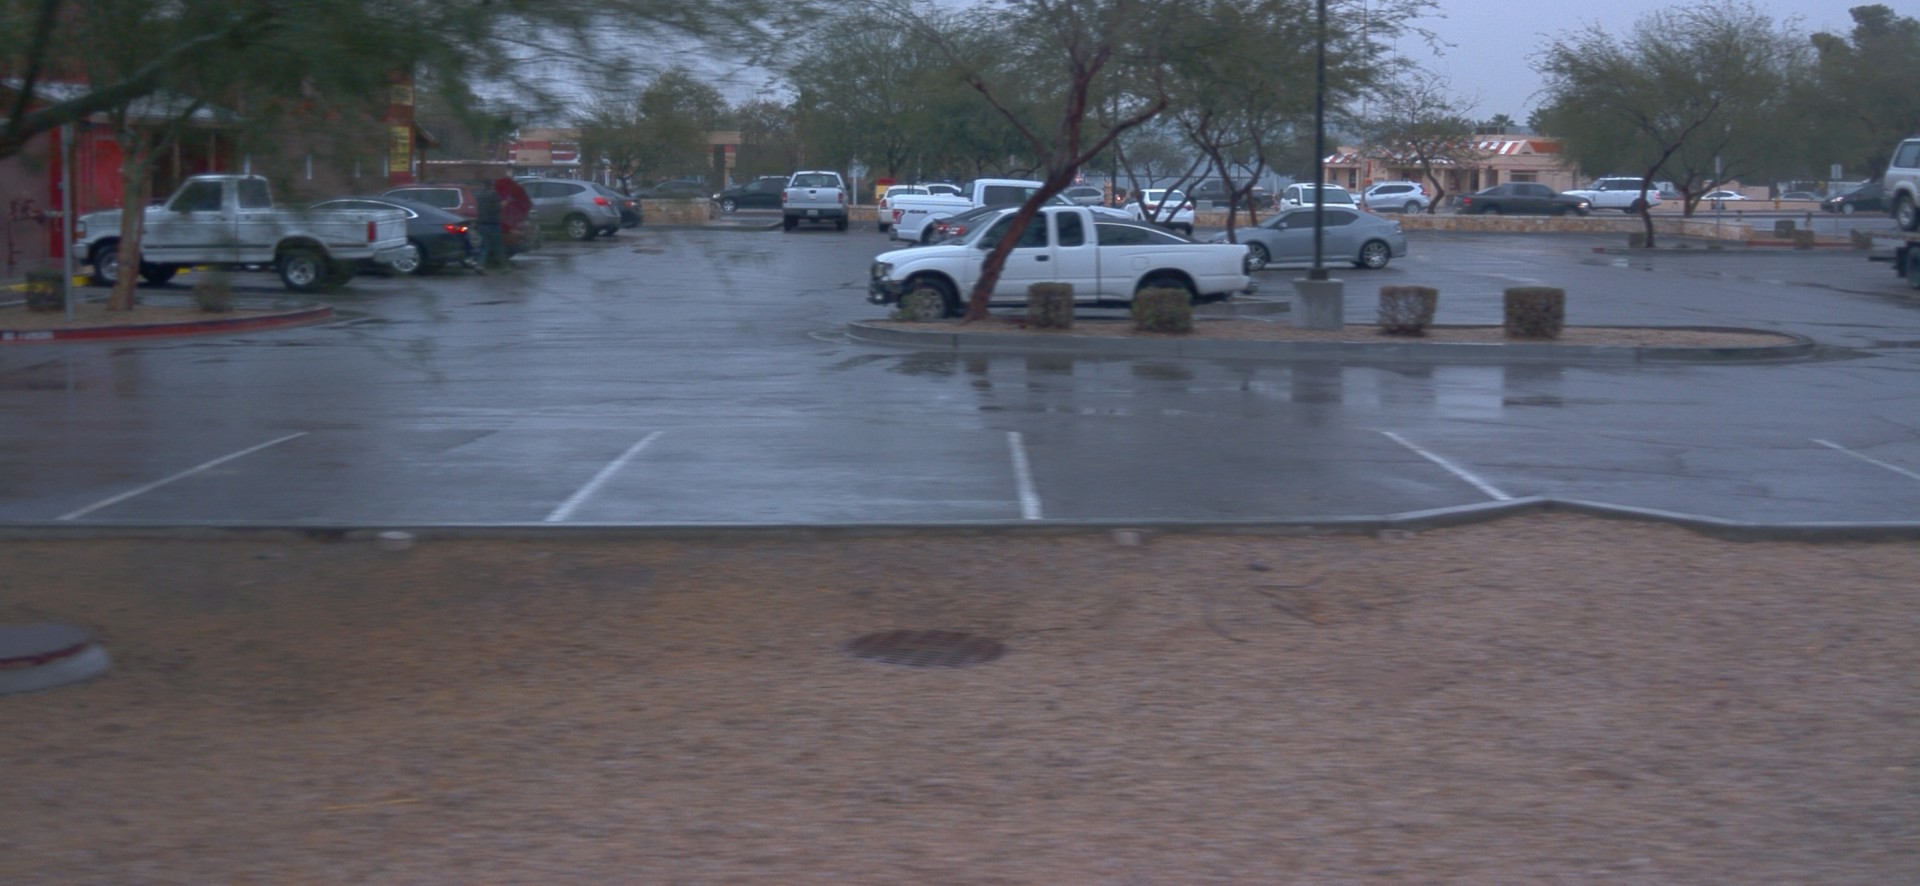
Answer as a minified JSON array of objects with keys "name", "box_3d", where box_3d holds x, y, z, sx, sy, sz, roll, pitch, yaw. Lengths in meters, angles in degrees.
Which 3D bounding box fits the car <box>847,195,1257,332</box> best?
[{"name":"car","box_3d":[1.160,-2.378,27.399,5.184,1.696,2.141,0,4,-1]}]

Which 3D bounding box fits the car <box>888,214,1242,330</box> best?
[{"name":"car","box_3d":[1.473,-2.500,30.119,4.938,1.586,2.150,0,4,-1]}]

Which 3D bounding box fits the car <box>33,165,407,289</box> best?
[{"name":"car","box_3d":[-11.757,-3.457,33.324,5.212,1.886,2.117,0,3,-1]}]
